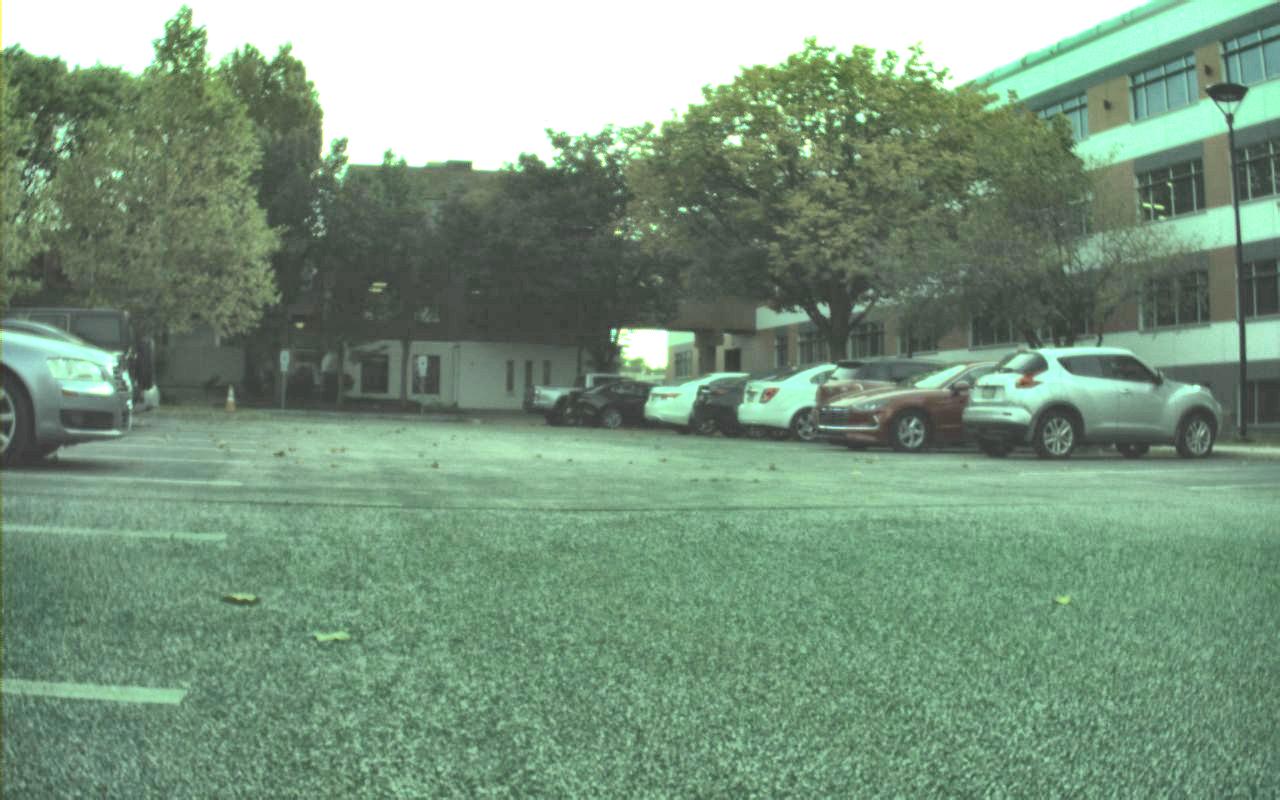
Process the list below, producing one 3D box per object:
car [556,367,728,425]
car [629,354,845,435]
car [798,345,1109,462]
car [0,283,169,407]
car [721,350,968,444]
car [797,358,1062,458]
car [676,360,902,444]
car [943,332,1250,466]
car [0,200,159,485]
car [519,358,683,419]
[{"bbox_3d":[0.070,-0.148,36.626,4.599,1.601,1.956,0,1,-25],"label":"car"},{"bbox_3d":[2.244,-0.152,29.301,4.612,1.767,2.001,0,1,-16],"label":"car"},{"bbox_3d":[4.927,0.033,19.189,4.602,1.655,1.967,0,1,-16],"label":"car"},{"bbox_3d":[-9.502,-0.783,17.306,4.686,1.798,2.023,0,1,-20],"label":"car"},{"bbox_3d":[4.022,-0.079,24.596,4.483,1.717,1.970,0,1,-14],"label":"car"},{"bbox_3d":[5.171,0.108,21.987,4.414,1.628,1.946,0,1,-15],"label":"car"},{"bbox_3d":[3.174,0.017,26.849,4.433,1.677,1.953,0,1,-16],"label":"car"},{"bbox_3d":[6.510,-0.019,16.831,4.246,1.694,1.889,0,1,-15],"label":"car"},{"bbox_3d":[-5.777,-0.331,7.731,4.650,1.637,1.993,0,1,-18],"label":"car"},{"bbox_3d":[-1.305,-0.379,41.476,5.019,1.917,2.094,0,1,-18],"label":"car"}]
